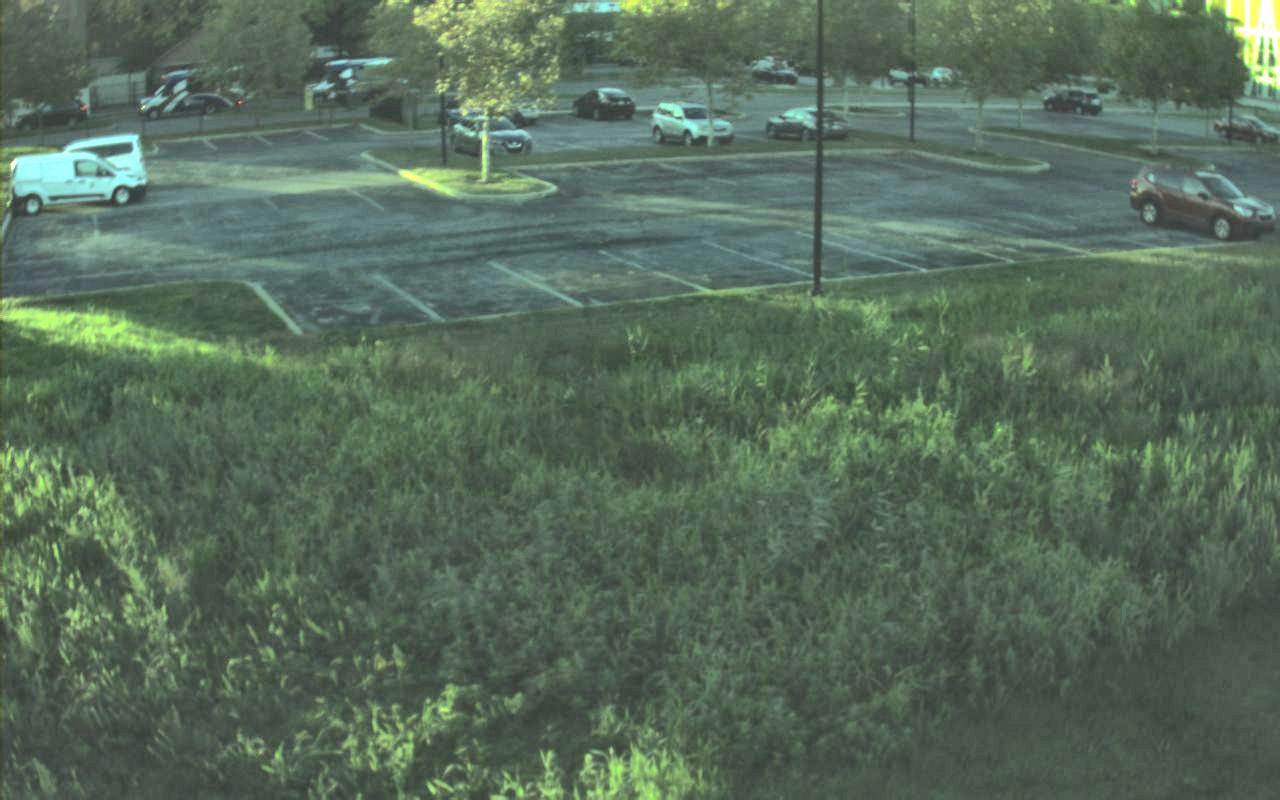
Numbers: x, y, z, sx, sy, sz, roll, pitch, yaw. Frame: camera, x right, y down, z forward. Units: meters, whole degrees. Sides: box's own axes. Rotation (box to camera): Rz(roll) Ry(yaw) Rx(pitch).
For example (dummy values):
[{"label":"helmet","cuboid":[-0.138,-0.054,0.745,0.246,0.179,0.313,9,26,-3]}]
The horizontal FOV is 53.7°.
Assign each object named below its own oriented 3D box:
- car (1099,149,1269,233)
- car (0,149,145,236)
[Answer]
[{"label":"car","cuboid":[15.026,-5.769,31.952,2.001,1.668,4.694,-10,18,-29]},{"label":"car","cuboid":[-18.277,-6.537,36.215,5.056,2.001,2.122,-9,17,-26]}]
